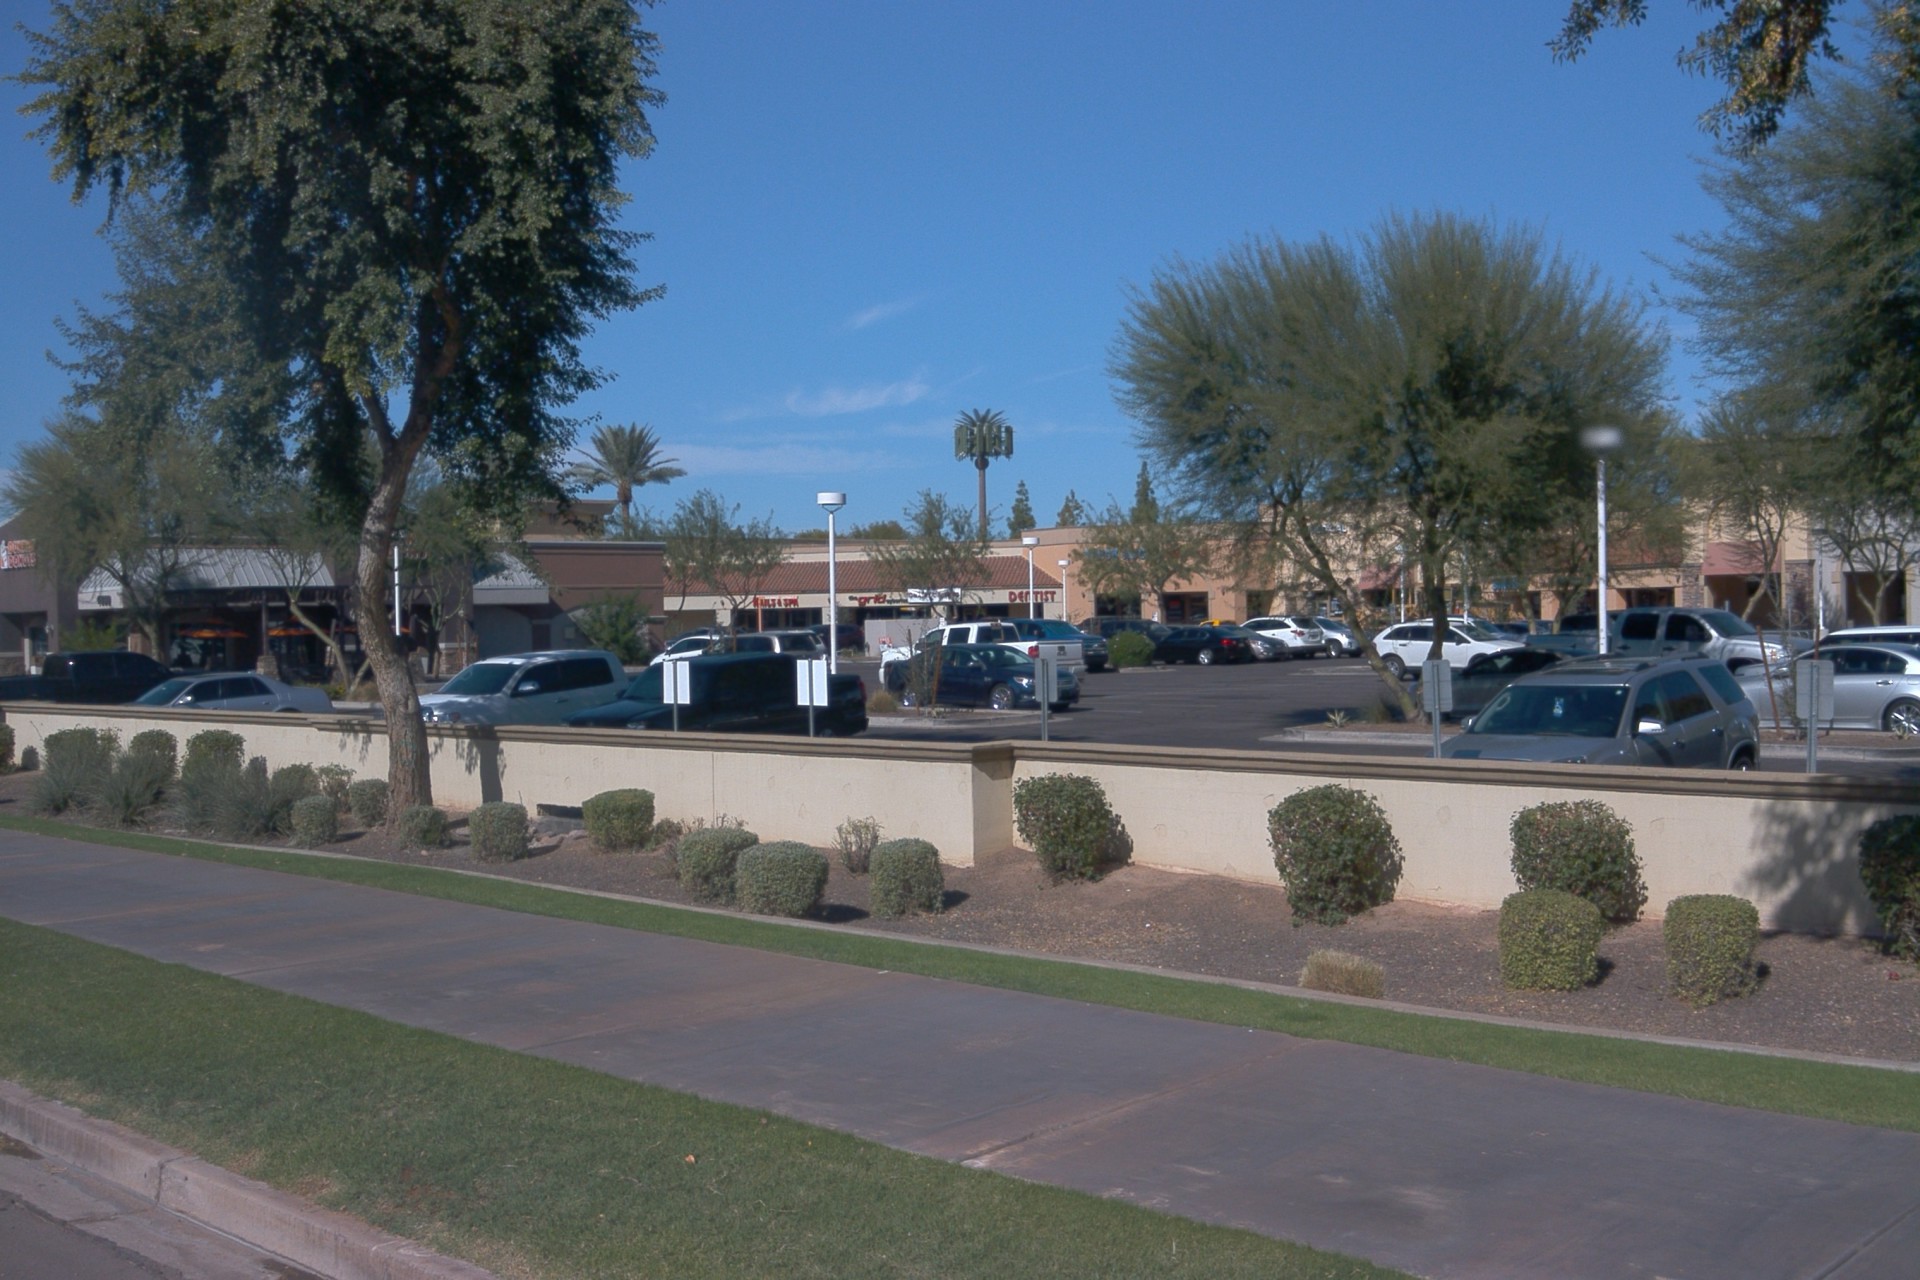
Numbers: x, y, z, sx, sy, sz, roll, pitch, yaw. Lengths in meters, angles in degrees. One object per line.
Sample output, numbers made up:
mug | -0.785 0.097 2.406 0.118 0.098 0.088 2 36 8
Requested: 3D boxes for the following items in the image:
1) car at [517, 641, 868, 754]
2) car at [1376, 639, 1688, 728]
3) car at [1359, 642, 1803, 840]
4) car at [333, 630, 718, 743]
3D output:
car | -3.938 0.841 31.737 2.397 1.560 5.473 0 -1 31
car | 10.051 0.748 36.834 4.894 1.470 2.144 -1 -1 45
car | 6.283 0.927 20.669 2.221 1.720 4.955 0 -1 44
car | -7.023 0.753 34.184 2.617 1.700 5.733 0 -1 43
